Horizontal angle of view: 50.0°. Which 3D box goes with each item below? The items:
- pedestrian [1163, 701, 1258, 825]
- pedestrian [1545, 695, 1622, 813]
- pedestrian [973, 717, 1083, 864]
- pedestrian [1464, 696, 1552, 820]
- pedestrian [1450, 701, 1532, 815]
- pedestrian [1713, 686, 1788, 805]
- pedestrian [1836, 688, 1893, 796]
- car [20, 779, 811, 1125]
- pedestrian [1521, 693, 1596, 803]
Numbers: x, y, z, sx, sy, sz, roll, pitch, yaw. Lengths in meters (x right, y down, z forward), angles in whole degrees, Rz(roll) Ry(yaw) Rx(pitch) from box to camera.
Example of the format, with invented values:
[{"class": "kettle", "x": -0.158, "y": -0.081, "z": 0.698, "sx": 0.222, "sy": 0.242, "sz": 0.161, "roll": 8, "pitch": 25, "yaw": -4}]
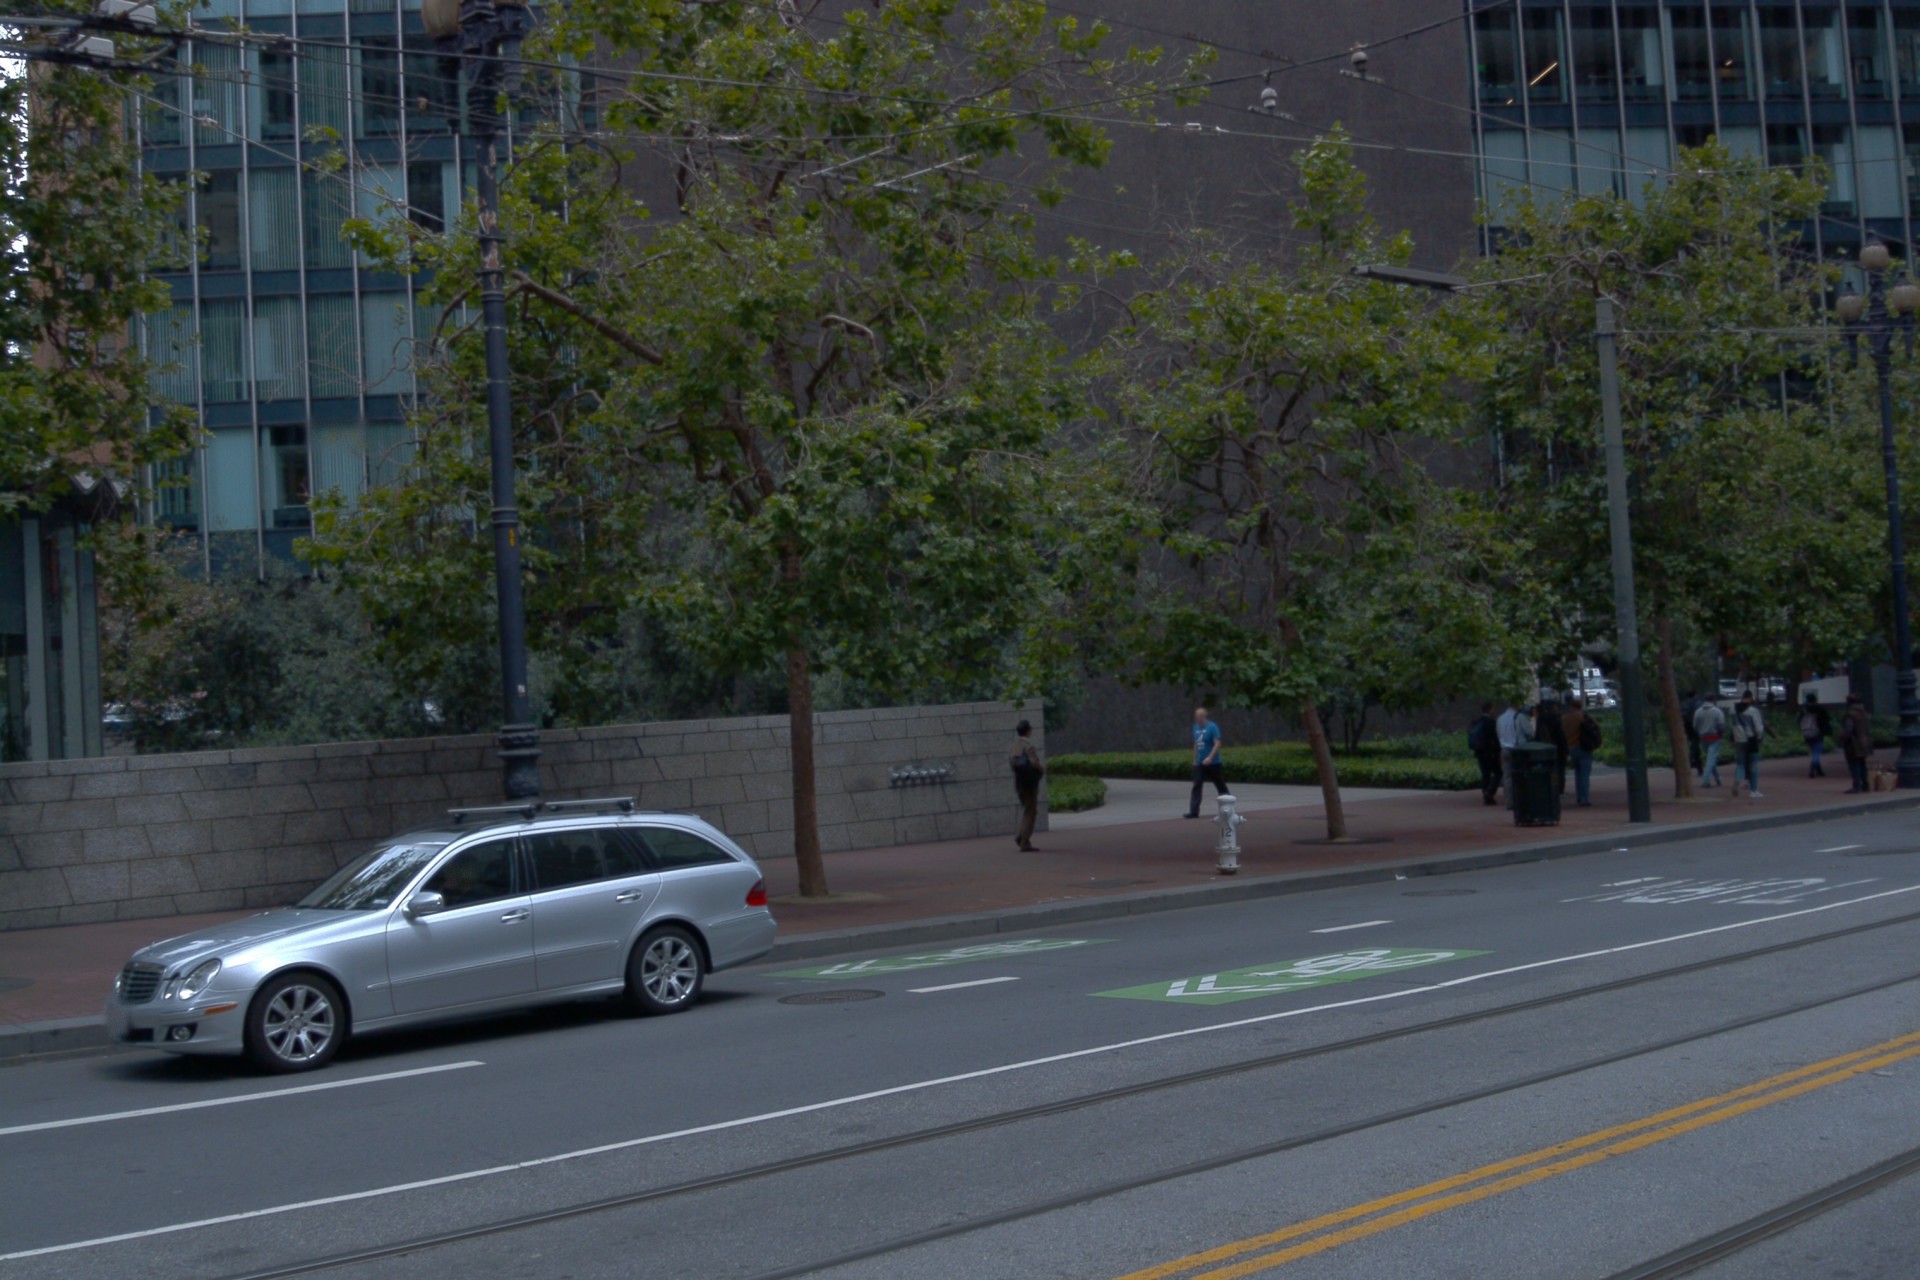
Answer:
[{"class": "pedestrian", "x": 4.078, "y": 1.979, "z": 33.495, "sx": 1.267, "sy": 1.900, "sz": 0.943, "roll": -1, "pitch": 1, "yaw": -43}, {"class": "pedestrian", "x": 10.177, "y": 1.842, "z": 33.567, "sx": 1.081, "sy": 1.830, "sz": 0.731, "roll": -1, "pitch": 1, "yaw": -41}, {"class": "pedestrian", "x": 0.922, "y": 2.027, "z": 28.071, "sx": 1.104, "sy": 1.880, "sz": 1.023, "roll": -1, "pitch": 1, "yaw": -39}, {"class": "pedestrian", "x": 8.811, "y": 1.871, "z": 33.065, "sx": 0.988, "sy": 1.900, "sz": 1.018, "roll": 1, "pitch": 1, "yaw": 43}, {"class": "pedestrian", "x": 8.818, "y": 1.940, "z": 34.178, "sx": 1.018, "sy": 1.800, "sz": 0.880, "roll": -1, "pitch": 1, "yaw": -38}, {"class": "pedestrian", "x": 13.230, "y": 1.744, "z": 34.417, "sx": 1.125, "sy": 1.920, "sz": 0.742, "roll": -1, "pitch": 1, "yaw": -43}, {"class": "pedestrian", "x": 15.222, "y": 1.703, "z": 34.619, "sx": 0.638, "sy": 1.760, "sz": 0.795, "roll": 1, "pitch": 1, "yaw": 44}, {"class": "car", "x": -3.616, "y": 1.971, "z": 14.323, "sx": 4.932, "sy": 1.630, "sz": 2.035, "roll": -1, "pitch": 1, "yaw": -42}, {"class": "pedestrian", "x": 10.355, "y": 1.850, "z": 35.601, "sx": 0.940, "sy": 1.830, "sz": 0.886, "roll": -1, "pitch": 1, "yaw": -44}]
